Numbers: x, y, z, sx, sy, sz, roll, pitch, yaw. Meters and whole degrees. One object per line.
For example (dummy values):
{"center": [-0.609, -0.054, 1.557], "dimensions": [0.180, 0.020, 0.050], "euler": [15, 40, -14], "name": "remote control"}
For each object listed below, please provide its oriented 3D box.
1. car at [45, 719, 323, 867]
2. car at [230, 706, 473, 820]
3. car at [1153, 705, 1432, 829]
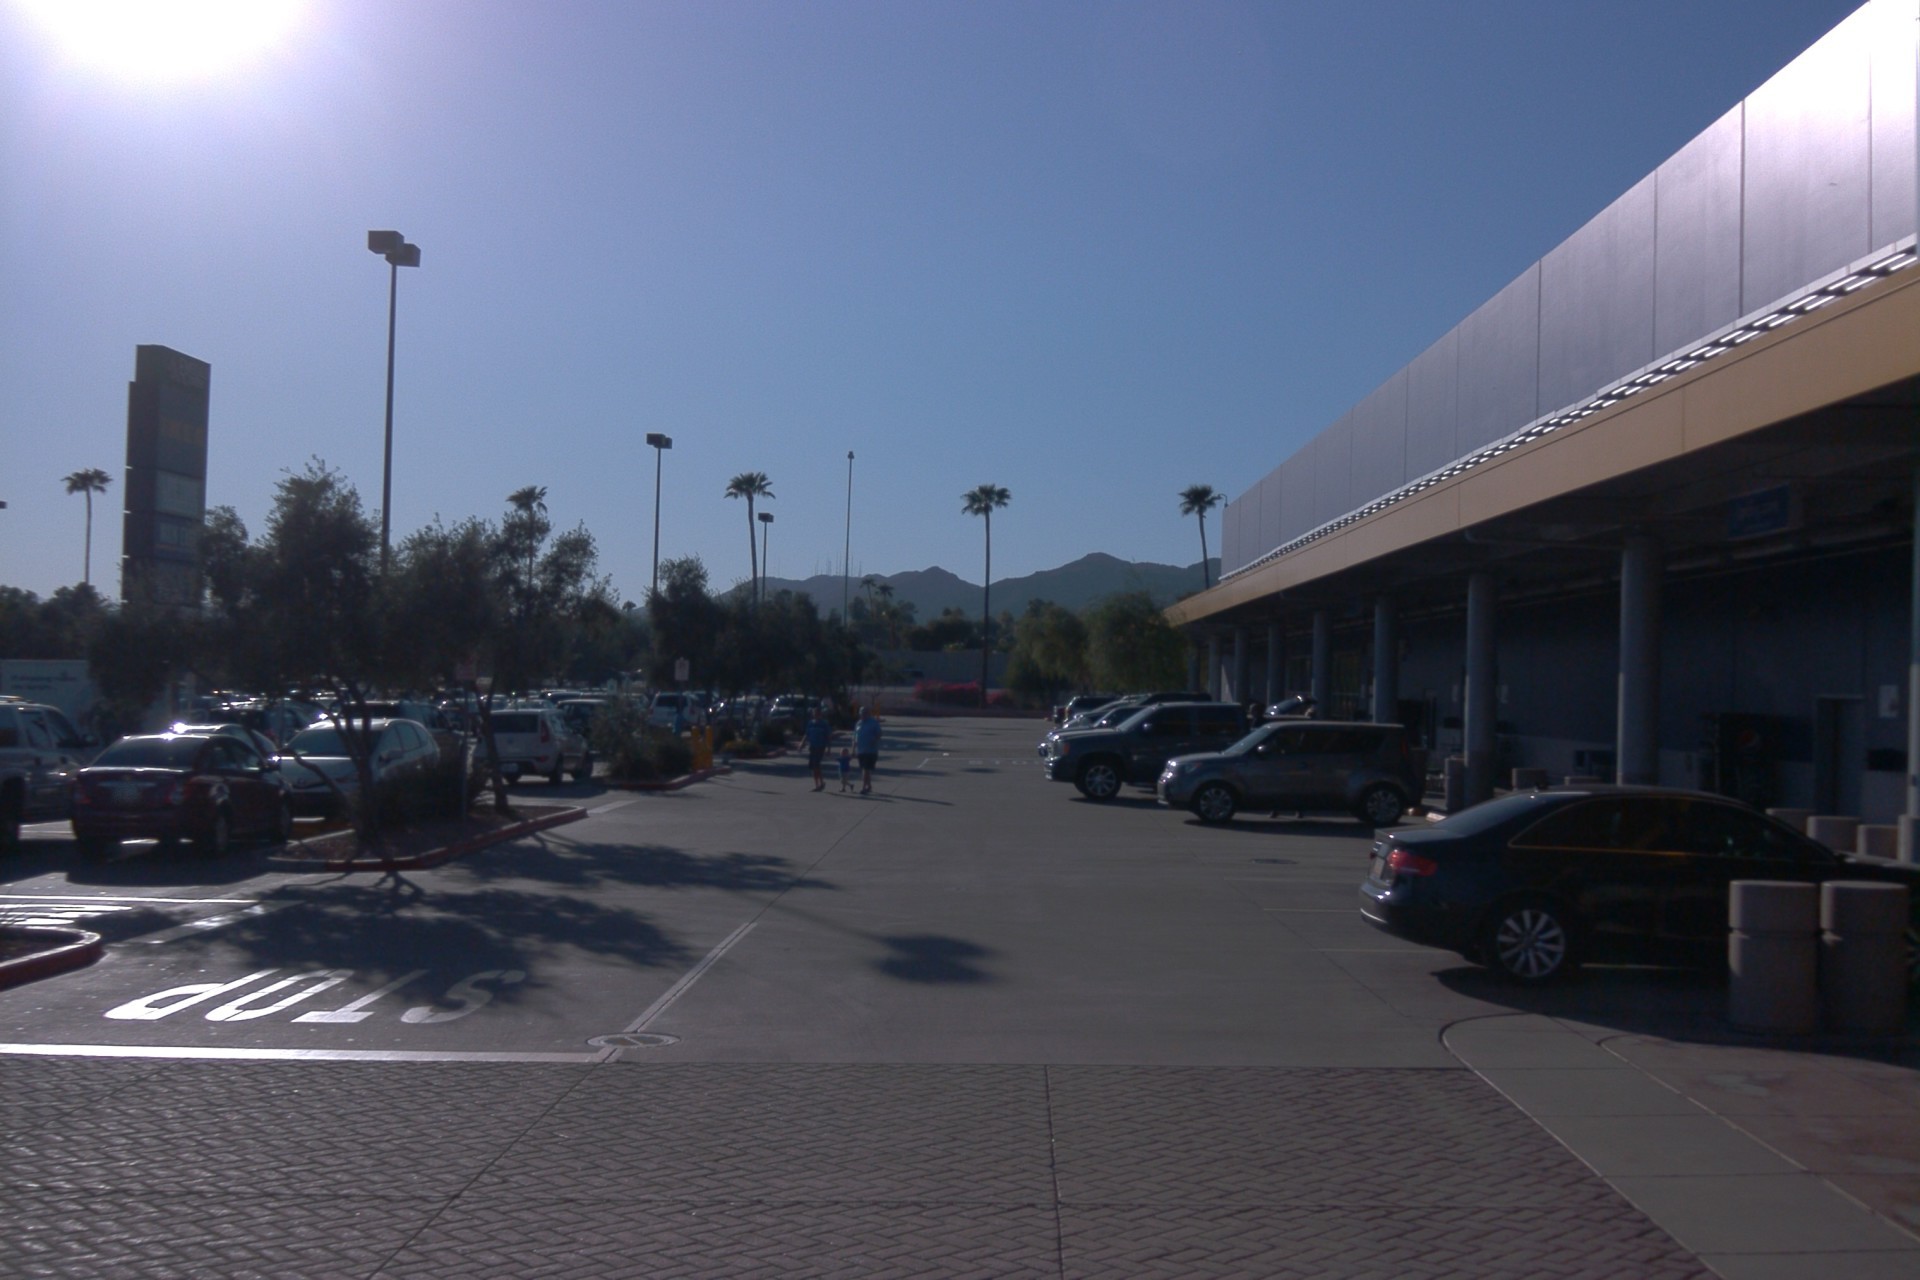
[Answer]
{"center": [-9.706, 1.867, 26.422], "dimensions": [1.866, 1.580, 4.286], "euler": [1, 0, 1], "name": "car"}
{"center": [-9.280, 1.843, 32.205], "dimensions": [2.242, 1.500, 4.808], "euler": [1, -1, 1], "name": "car"}
{"center": [5.214, 1.987, 33.066], "dimensions": [4.104, 1.830, 1.902], "euler": [1, 0, 0], "name": "car"}
